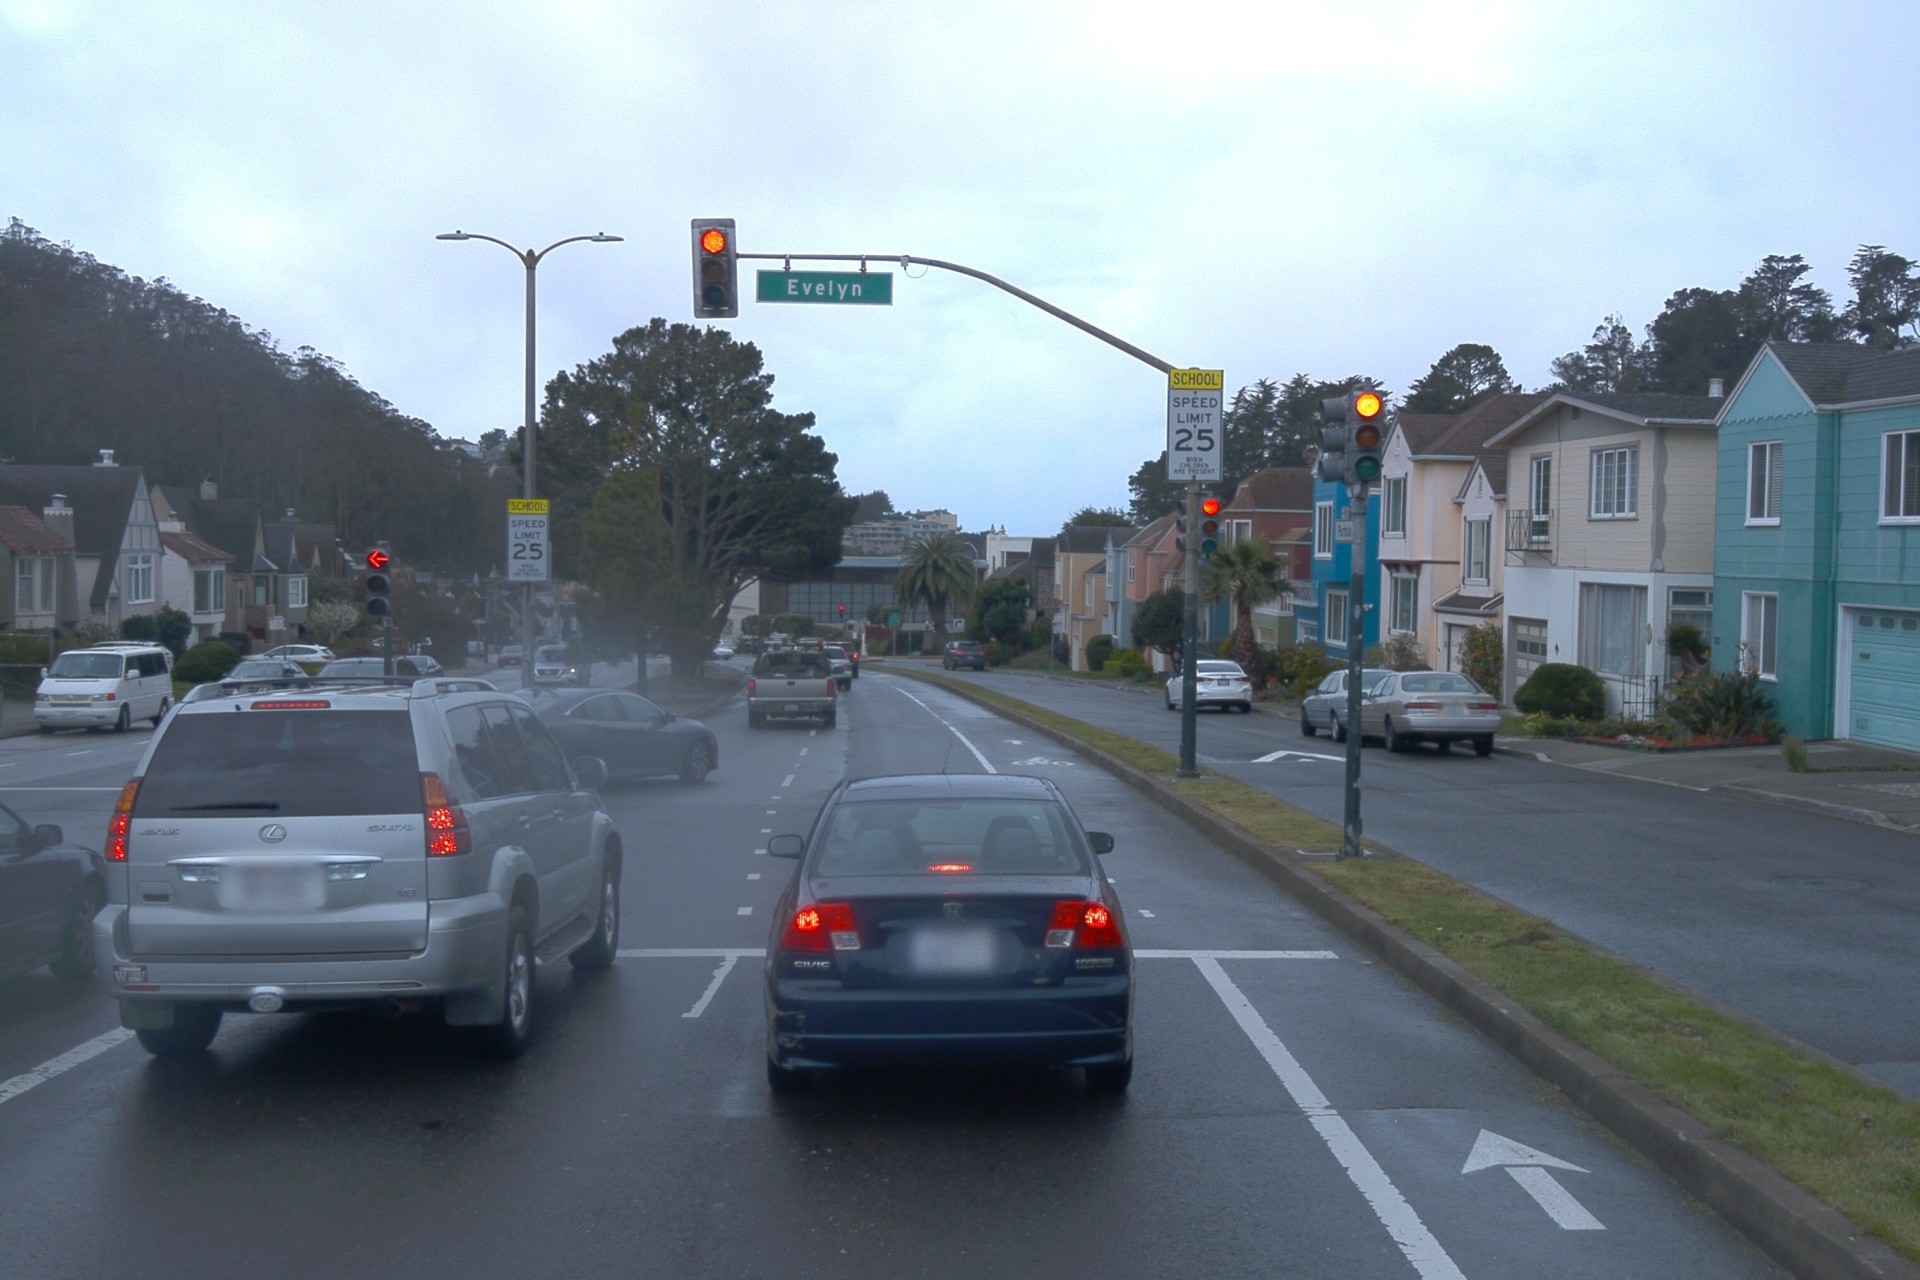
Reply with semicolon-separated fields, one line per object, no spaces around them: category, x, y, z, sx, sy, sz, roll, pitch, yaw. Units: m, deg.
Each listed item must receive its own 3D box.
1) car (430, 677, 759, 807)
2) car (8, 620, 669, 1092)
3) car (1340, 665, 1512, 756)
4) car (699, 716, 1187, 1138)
car;-4.866;1.313;28.189;1.967;1.520;4.741;0;0;27
car;-3.060;0.949;11.419;2.249;2.070;4.734;0;0;0
car;8.081;1.185;36.133;1.755;1.440;4.469;0;0;-4
car;-0.110;1.254;10.552;2.004;1.570;4.164;0;0;-1
